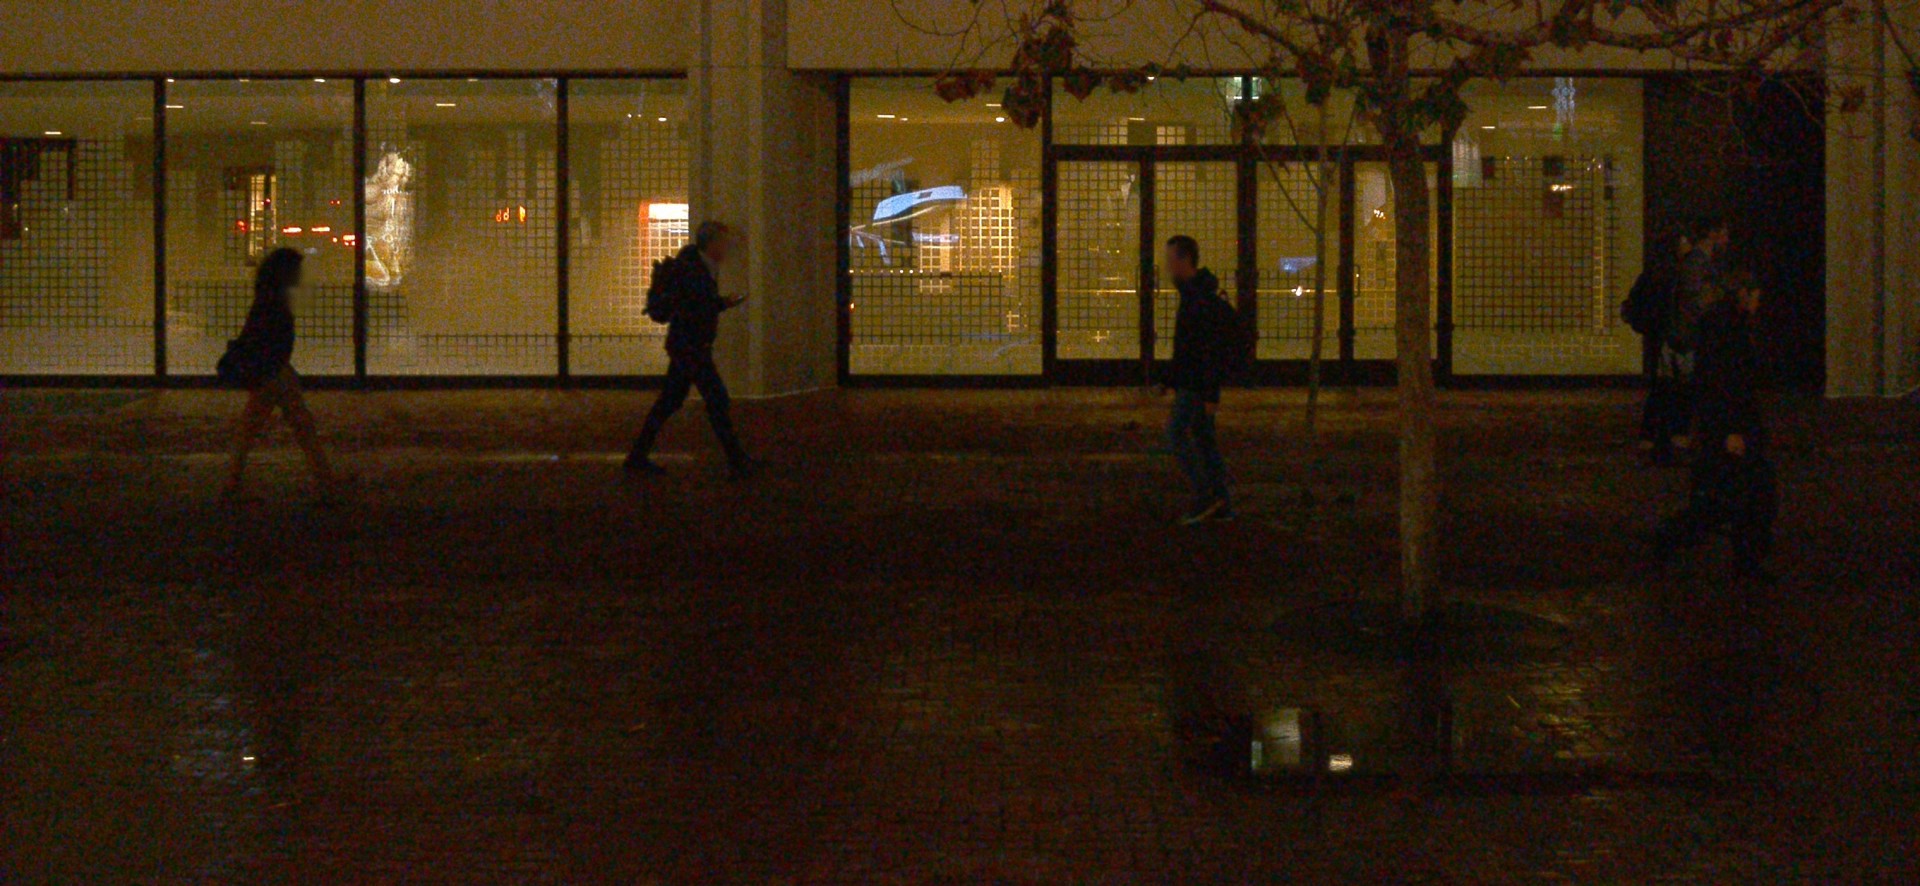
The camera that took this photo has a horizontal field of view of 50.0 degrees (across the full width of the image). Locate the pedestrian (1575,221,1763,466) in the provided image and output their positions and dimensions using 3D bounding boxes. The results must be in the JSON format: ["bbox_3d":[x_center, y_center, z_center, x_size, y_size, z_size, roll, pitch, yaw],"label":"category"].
[{"bbox_3d":[5.214,-0.751,15.201,1.132,1.761,0.747,0,0,1],"label":"pedestrian"}]

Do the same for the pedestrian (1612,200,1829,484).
[{"bbox_3d":[5.311,-0.727,14.453,1.195,1.931,0.894,0,1,1],"label":"pedestrian"}]

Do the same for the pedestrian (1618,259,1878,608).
[{"bbox_3d":[4.135,-0.096,10.902,1.091,1.751,0.971,0,1,8],"label":"pedestrian"}]

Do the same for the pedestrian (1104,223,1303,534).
[{"bbox_3d":[1.480,-0.420,12.657,1.142,1.851,0.759,0,0,1],"label":"pedestrian"}]

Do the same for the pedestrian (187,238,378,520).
[{"bbox_3d":[-4.399,-0.445,13.430,1.048,1.781,0.730,0,0,-6],"label":"pedestrian"}]

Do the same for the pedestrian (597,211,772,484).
[{"bbox_3d":[-1.888,-0.680,14.256,1.111,1.831,0.844,0,1,-1],"label":"pedestrian"}]
